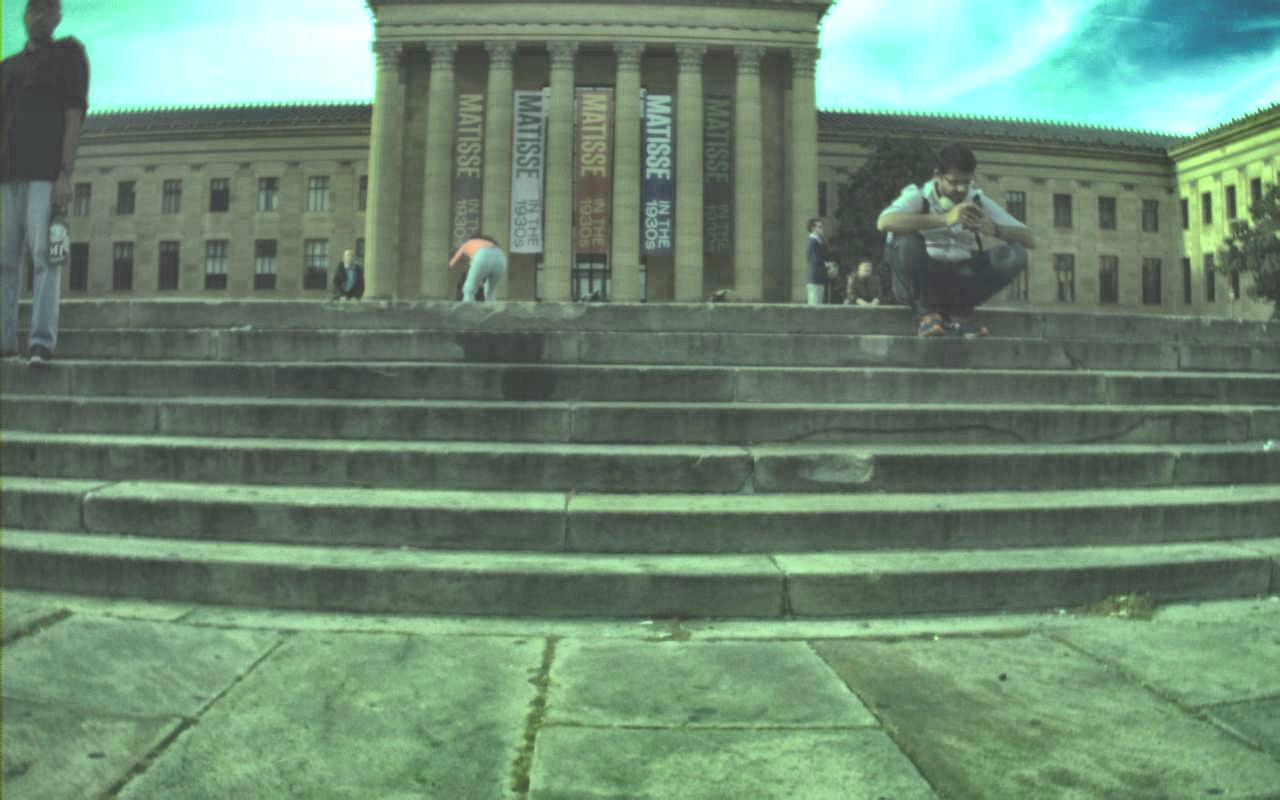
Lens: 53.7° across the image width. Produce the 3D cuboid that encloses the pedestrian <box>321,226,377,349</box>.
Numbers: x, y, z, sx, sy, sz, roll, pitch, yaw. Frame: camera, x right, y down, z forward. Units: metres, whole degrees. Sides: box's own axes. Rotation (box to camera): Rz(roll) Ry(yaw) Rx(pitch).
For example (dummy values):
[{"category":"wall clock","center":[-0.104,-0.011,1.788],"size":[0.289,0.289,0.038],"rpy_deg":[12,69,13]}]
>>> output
[{"category":"pedestrian","center":[-4.267,-1.616,17.975],"size":[0.766,1.743,0.750],"rpy_deg":[0,0,-16]}]

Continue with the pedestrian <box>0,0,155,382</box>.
[{"category":"pedestrian","center":[-2.721,-0.993,5.010],"size":[0.784,1.838,0.779],"rpy_deg":[0,0,-2]}]

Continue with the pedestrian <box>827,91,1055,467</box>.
[{"category":"pedestrian","center":[1.403,-0.531,5.742],"size":[0.735,1.611,0.801],"rpy_deg":[0,0,-30]}]

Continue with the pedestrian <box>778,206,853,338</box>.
[{"category":"pedestrian","center":[2.481,-1.782,17.692],"size":[0.766,1.793,0.749],"rpy_deg":[0,0,-30]}]

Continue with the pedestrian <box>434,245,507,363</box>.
[{"category":"pedestrian","center":[-2.464,-1.370,18.238],"size":[0.788,1.675,0.786],"rpy_deg":[1,0,18]}]

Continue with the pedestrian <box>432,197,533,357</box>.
[{"category":"pedestrian","center":[-1.723,-1.317,13.723],"size":[0.823,1.693,0.770],"rpy_deg":[1,0,20]}]

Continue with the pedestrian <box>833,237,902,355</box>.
[{"category":"pedestrian","center":[3.327,-1.498,18.262],"size":[0.787,1.663,0.780],"rpy_deg":[0,0,-12]}]
